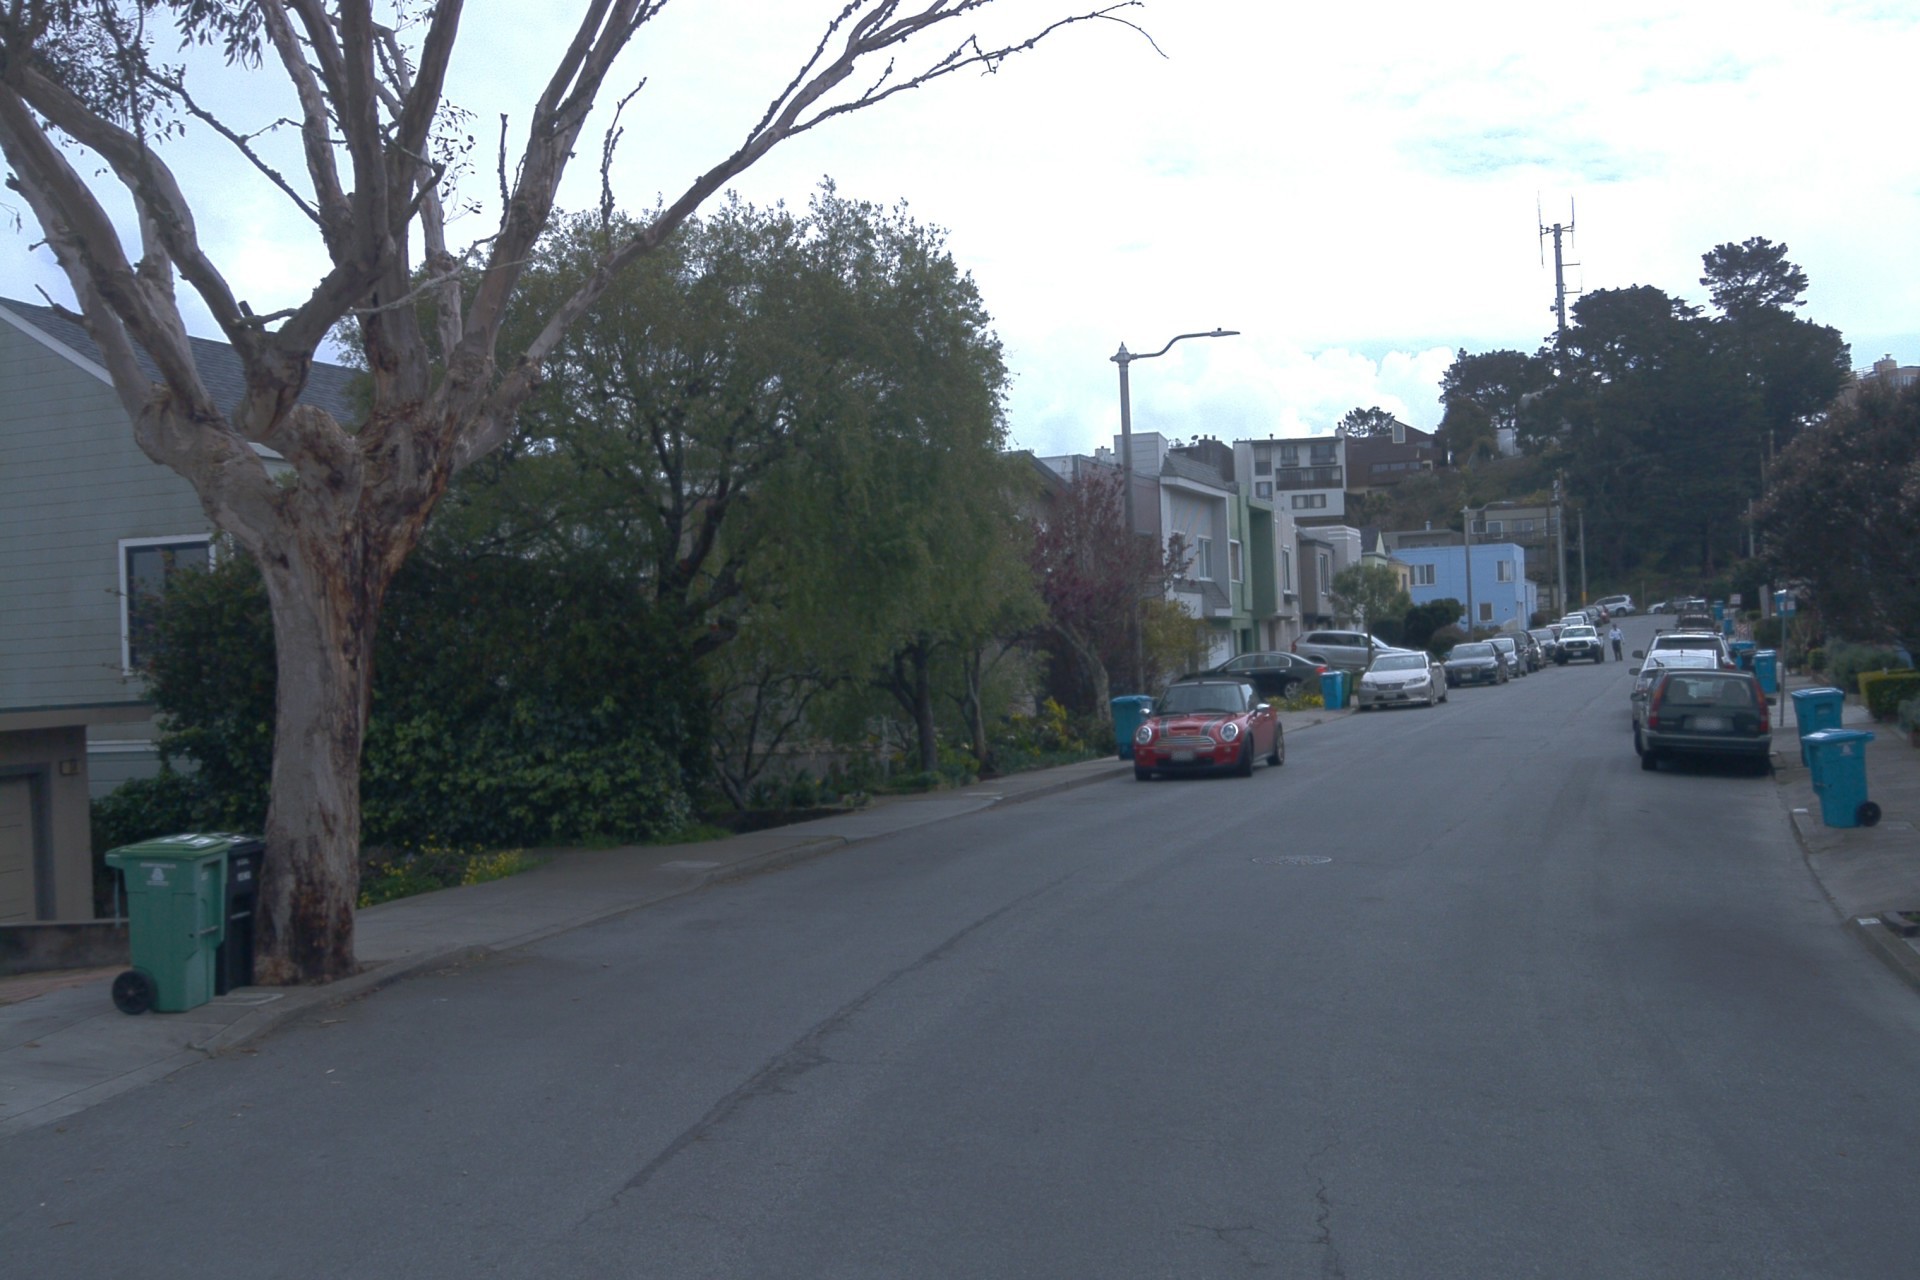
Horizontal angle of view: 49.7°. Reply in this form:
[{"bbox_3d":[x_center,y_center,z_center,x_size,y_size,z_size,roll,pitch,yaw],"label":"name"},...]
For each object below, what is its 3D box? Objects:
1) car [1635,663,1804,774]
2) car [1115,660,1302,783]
[{"bbox_3d":[10.796,1.064,29.727,2.072,1.420,4.830,0,0,18],"label":"car"},{"bbox_3d":[3.724,1.138,30.472,1.996,1.670,3.836,0,0,19],"label":"car"}]
